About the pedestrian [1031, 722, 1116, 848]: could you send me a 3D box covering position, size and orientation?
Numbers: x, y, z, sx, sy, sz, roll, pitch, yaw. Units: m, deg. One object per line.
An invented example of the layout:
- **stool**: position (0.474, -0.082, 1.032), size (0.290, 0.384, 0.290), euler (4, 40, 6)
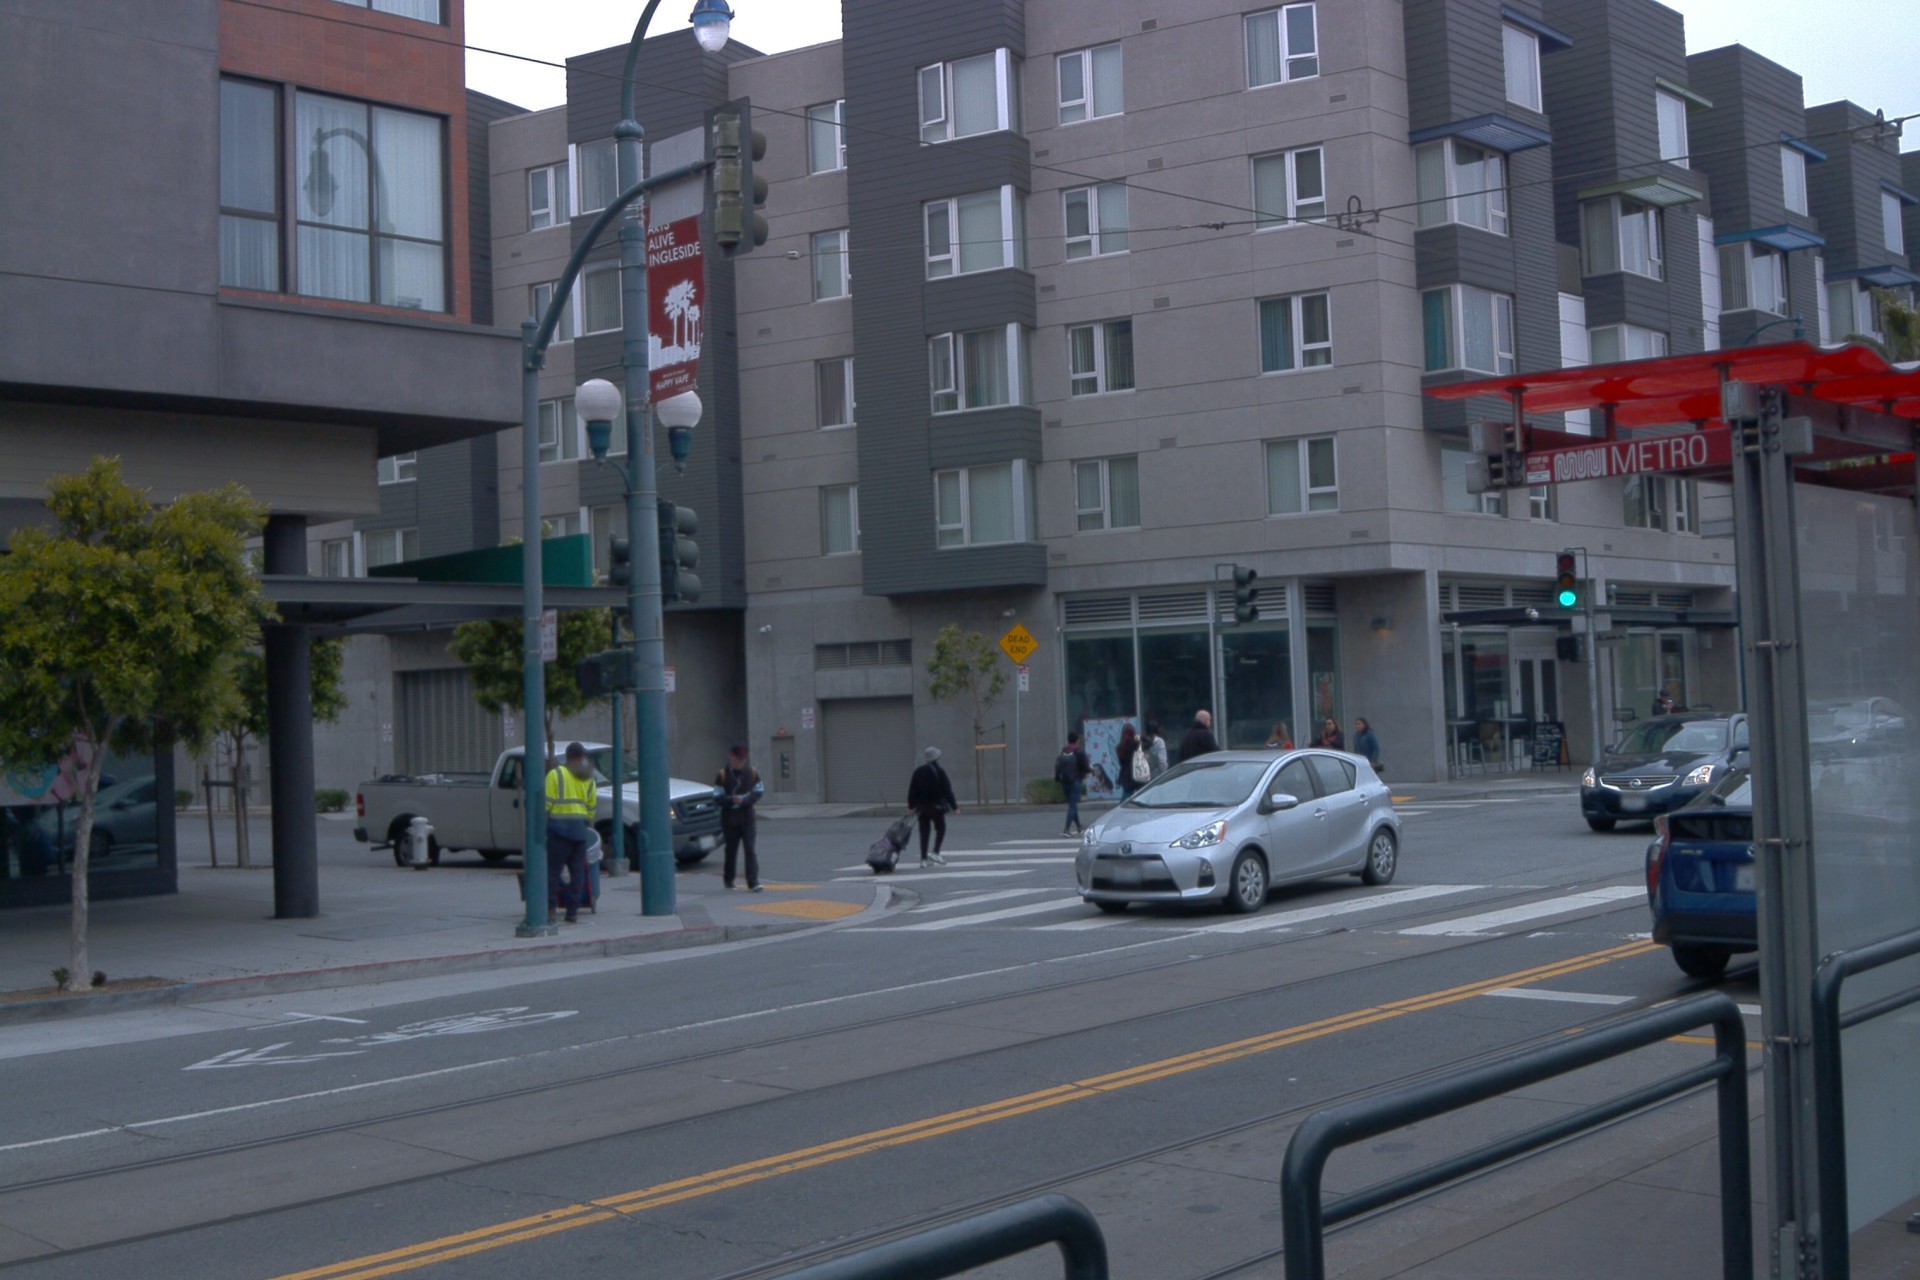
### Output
- **pedestrian**: position (1.672, 2.107, 30.275), size (0.857, 1.730, 0.990), euler (1, 1, 34)

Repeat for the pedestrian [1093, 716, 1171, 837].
- **pedestrian**: position (2.608, 2.048, 31.215), size (0.777, 1.733, 0.989), euler (1, 1, 36)

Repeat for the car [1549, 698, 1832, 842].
- **car**: position (9.676, 1.617, 27.093), size (2.135, 1.460, 4.877), euler (1, 1, 37)

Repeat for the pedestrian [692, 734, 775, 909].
- **pedestrian**: position (-2.565, 2.034, 23.353), size (0.721, 1.872, 0.823), euler (0, 1, -23)

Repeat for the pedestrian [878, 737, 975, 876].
- **pedestrian**: position (-0.428, 2.140, 26.825), size (0.805, 1.690, 0.986), euler (1, 1, 42)

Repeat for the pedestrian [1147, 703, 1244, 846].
- **pedestrian**: position (3.296, 1.865, 28.915), size (0.990, 1.900, 0.907), euler (-1, 1, -33)

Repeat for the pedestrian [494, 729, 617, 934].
- **pedestrian**: position (-3.930, 1.831, 20.048), size (0.965, 1.870, 0.727), euler (-1, 1, -32)

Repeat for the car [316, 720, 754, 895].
- **car**: position (-6.153, 2.307, 29.720), size (6.039, 2.050, 2.348), euler (1, 1, 28)

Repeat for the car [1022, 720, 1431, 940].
- **car**: position (2.667, 1.725, 19.977), size (2.084, 1.640, 4.014), euler (1, 1, 40)
